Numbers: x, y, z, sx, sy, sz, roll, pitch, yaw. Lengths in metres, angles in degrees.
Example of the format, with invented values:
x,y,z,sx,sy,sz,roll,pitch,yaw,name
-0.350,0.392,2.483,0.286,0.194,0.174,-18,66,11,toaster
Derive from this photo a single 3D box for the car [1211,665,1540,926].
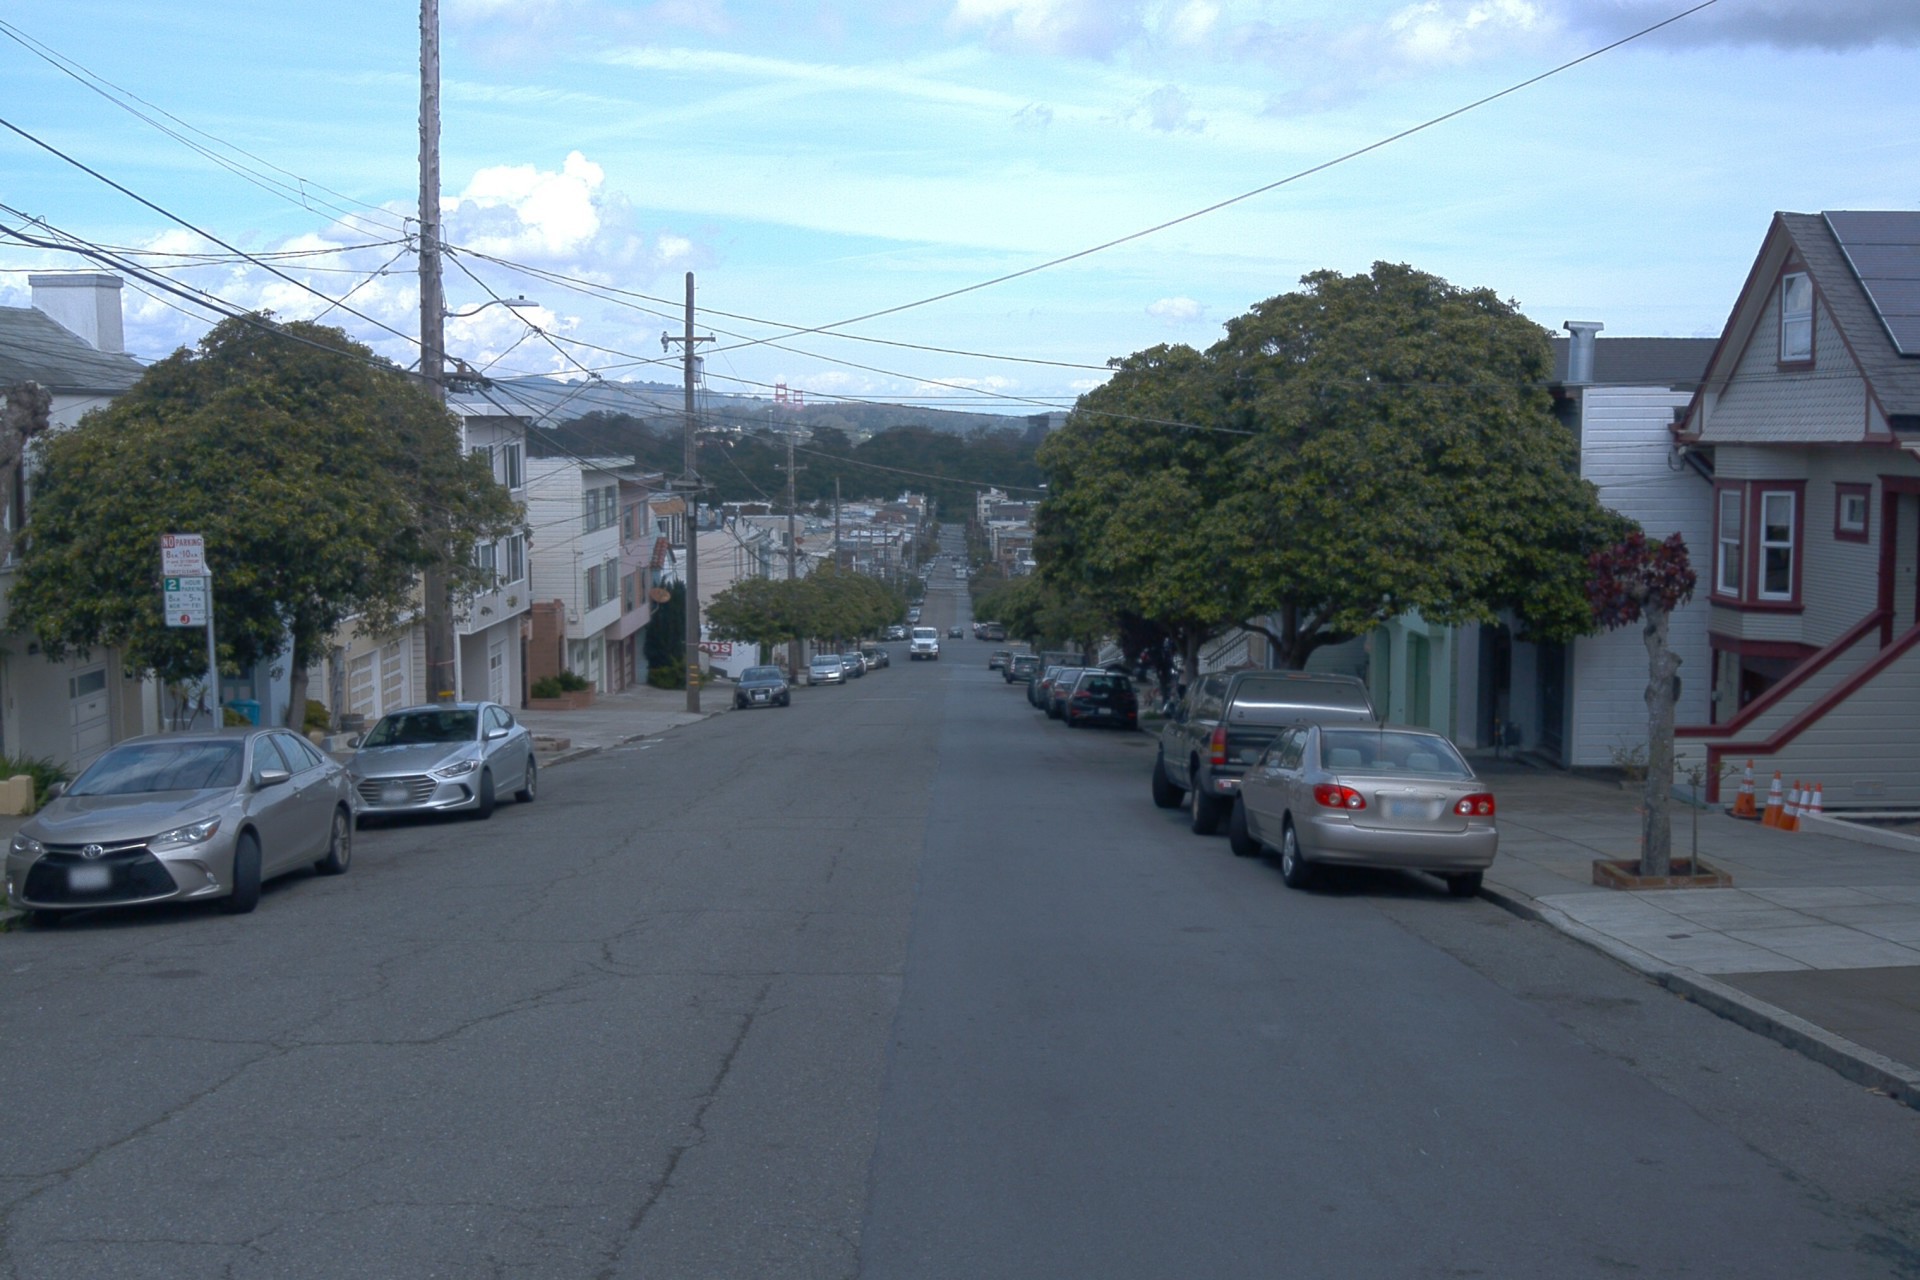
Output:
x,y,z,sx,sy,sz,roll,pitch,yaw,name
3.680,1.294,19.131,2.003,2.077,4.544,0,0,-2,car

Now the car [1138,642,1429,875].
x,y,z,sx,sy,sz,roll,pitch,yaw,name
3.642,1.242,24.479,2.419,2.430,5.894,0,0,-1,car

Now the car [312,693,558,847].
x,y,z,sx,sy,sz,roll,pitch,yaw,name
-6.513,1.562,26.118,2.028,1.650,4.652,0,0,-1,car
